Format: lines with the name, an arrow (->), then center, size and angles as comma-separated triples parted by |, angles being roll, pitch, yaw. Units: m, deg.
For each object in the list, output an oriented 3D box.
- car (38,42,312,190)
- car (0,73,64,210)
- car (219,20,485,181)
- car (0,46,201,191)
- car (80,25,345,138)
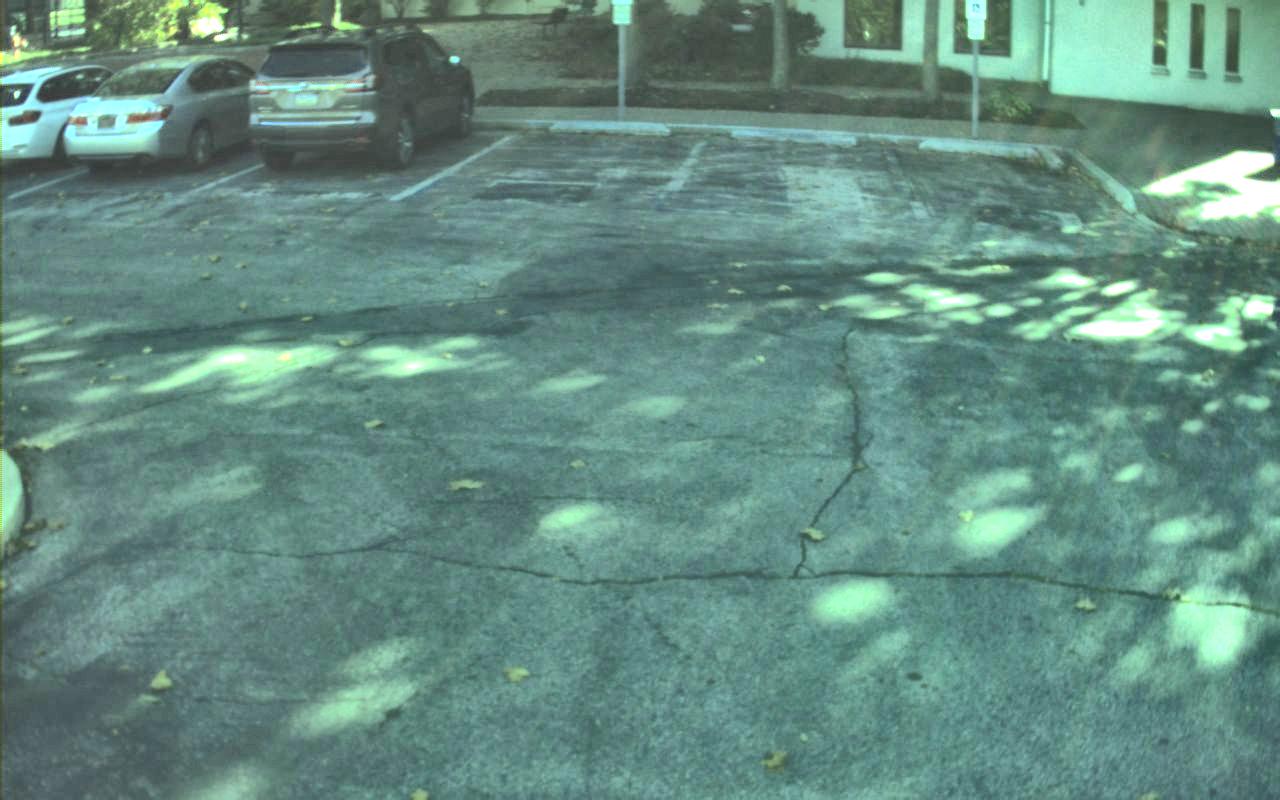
car -> -6.362, -4.018, 16.216 | 1.901, 1.552, 4.444 | 2, 17, 11
car -> -11.364, -4.214, 17.474 | 1.931, 1.588, 4.478 | 1, 17, 8
car -> -3.648, -4.103, 16.103 | 2.027, 1.745, 4.800 | 1, 17, 8
car -> -8.643, -4.293, 17.002 | 1.939, 1.632, 4.471 | 3, 17, 14
car -> -8.142, -5.980, 22.060 | 4.812, 1.677, 2.043 | 1, 16, 8
